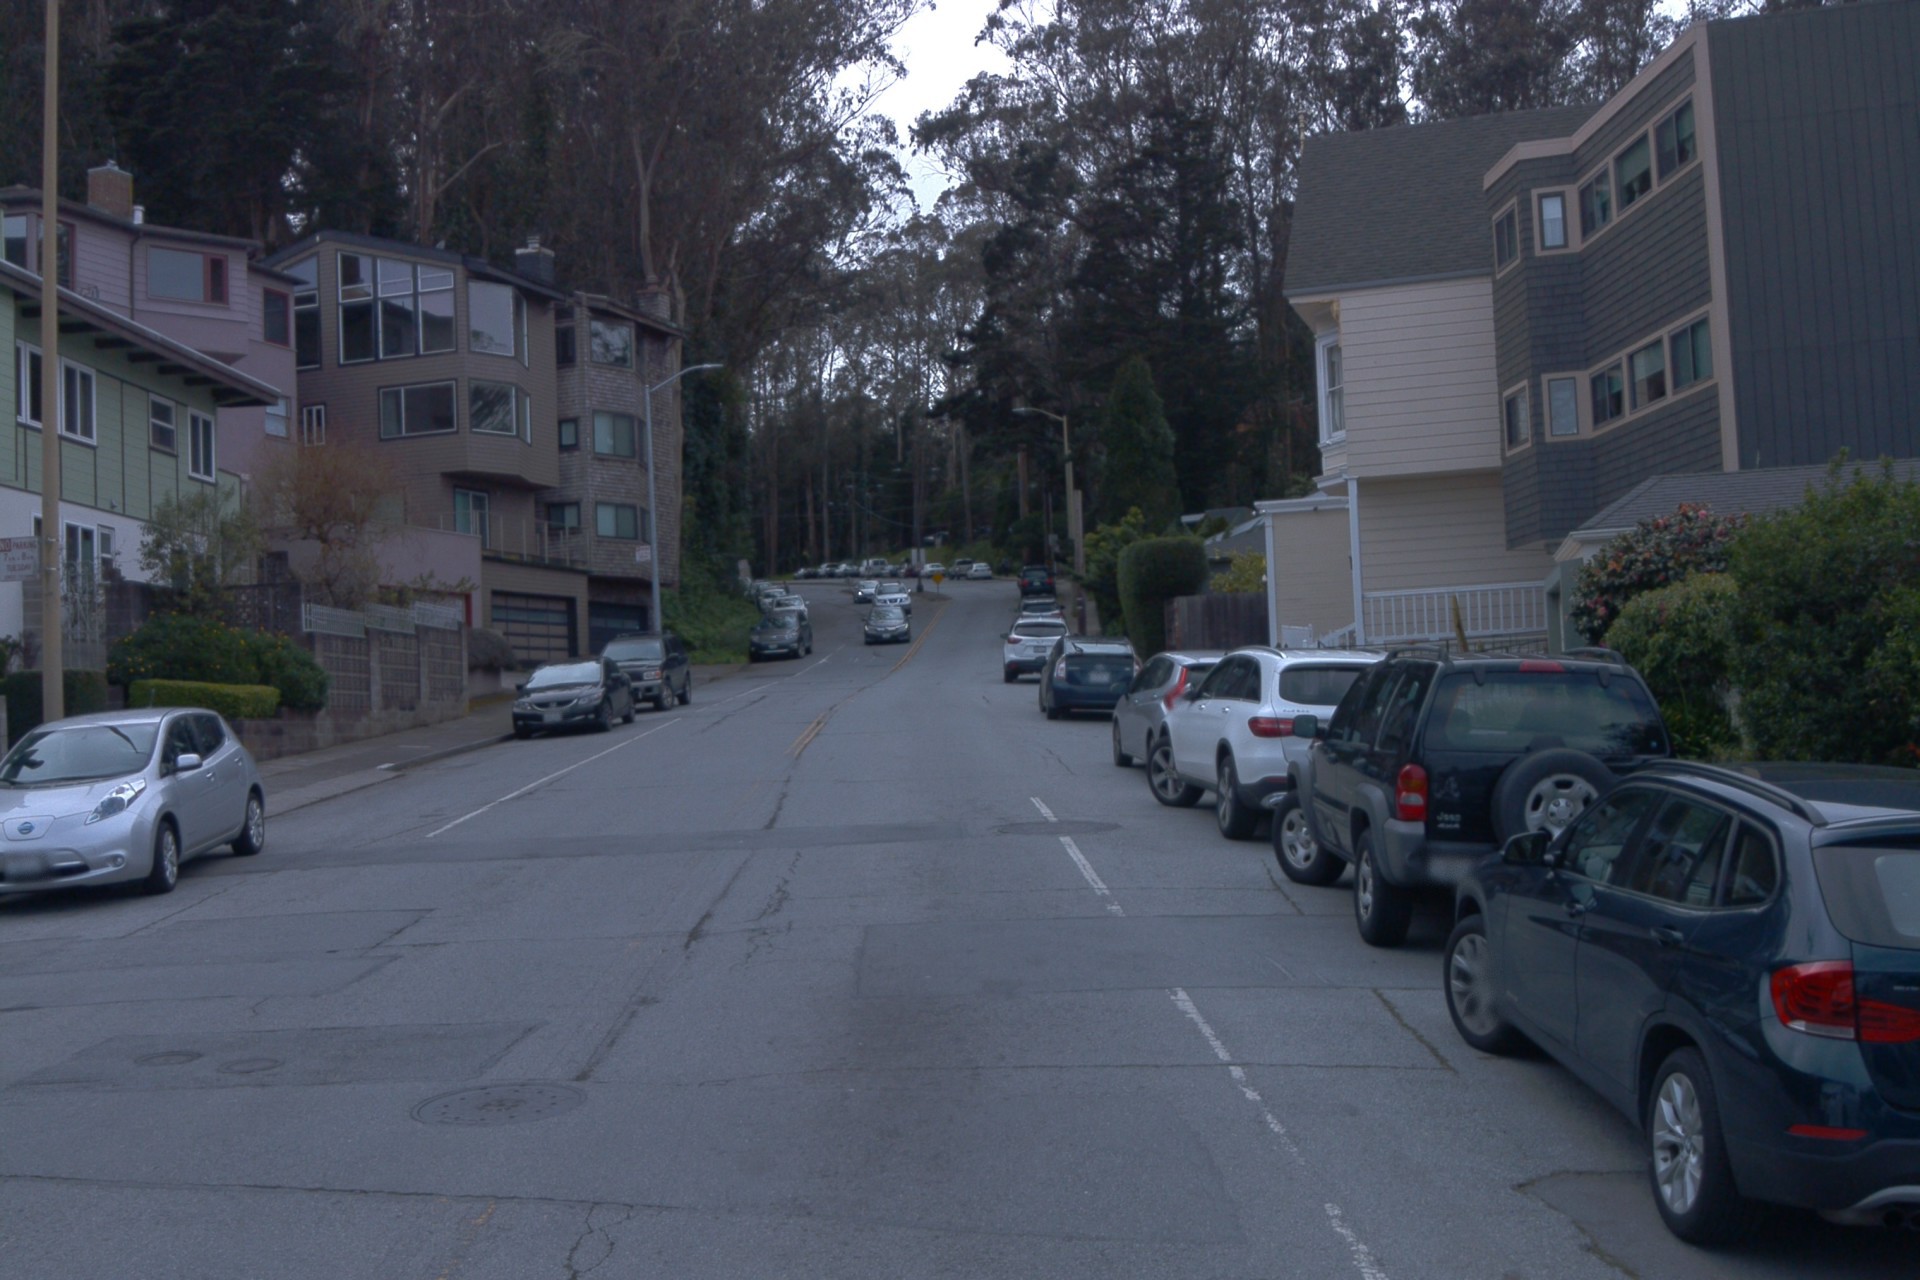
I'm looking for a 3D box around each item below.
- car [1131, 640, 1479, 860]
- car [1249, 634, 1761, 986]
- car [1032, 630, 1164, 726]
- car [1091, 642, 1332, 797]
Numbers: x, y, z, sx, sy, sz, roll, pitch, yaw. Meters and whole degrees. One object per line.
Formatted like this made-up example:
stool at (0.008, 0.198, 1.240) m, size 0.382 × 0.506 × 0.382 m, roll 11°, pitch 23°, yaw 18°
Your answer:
car at (3.049, 0.901, 19.348) m, size 2.090 × 1.740 × 4.852 m, roll 0°, pitch 1°, yaw -5°
car at (3.349, 0.939, 13.715) m, size 2.205 × 1.910 × 4.613 m, roll 0°, pitch 1°, yaw 0°
car at (2.435, 0.639, 37.354) m, size 2.027 × 1.580 × 4.537 m, roll 0°, pitch 1°, yaw -1°
car at (2.902, 0.874, 24.715) m, size 2.037 × 1.630 × 4.248 m, roll 0°, pitch 1°, yaw -5°
